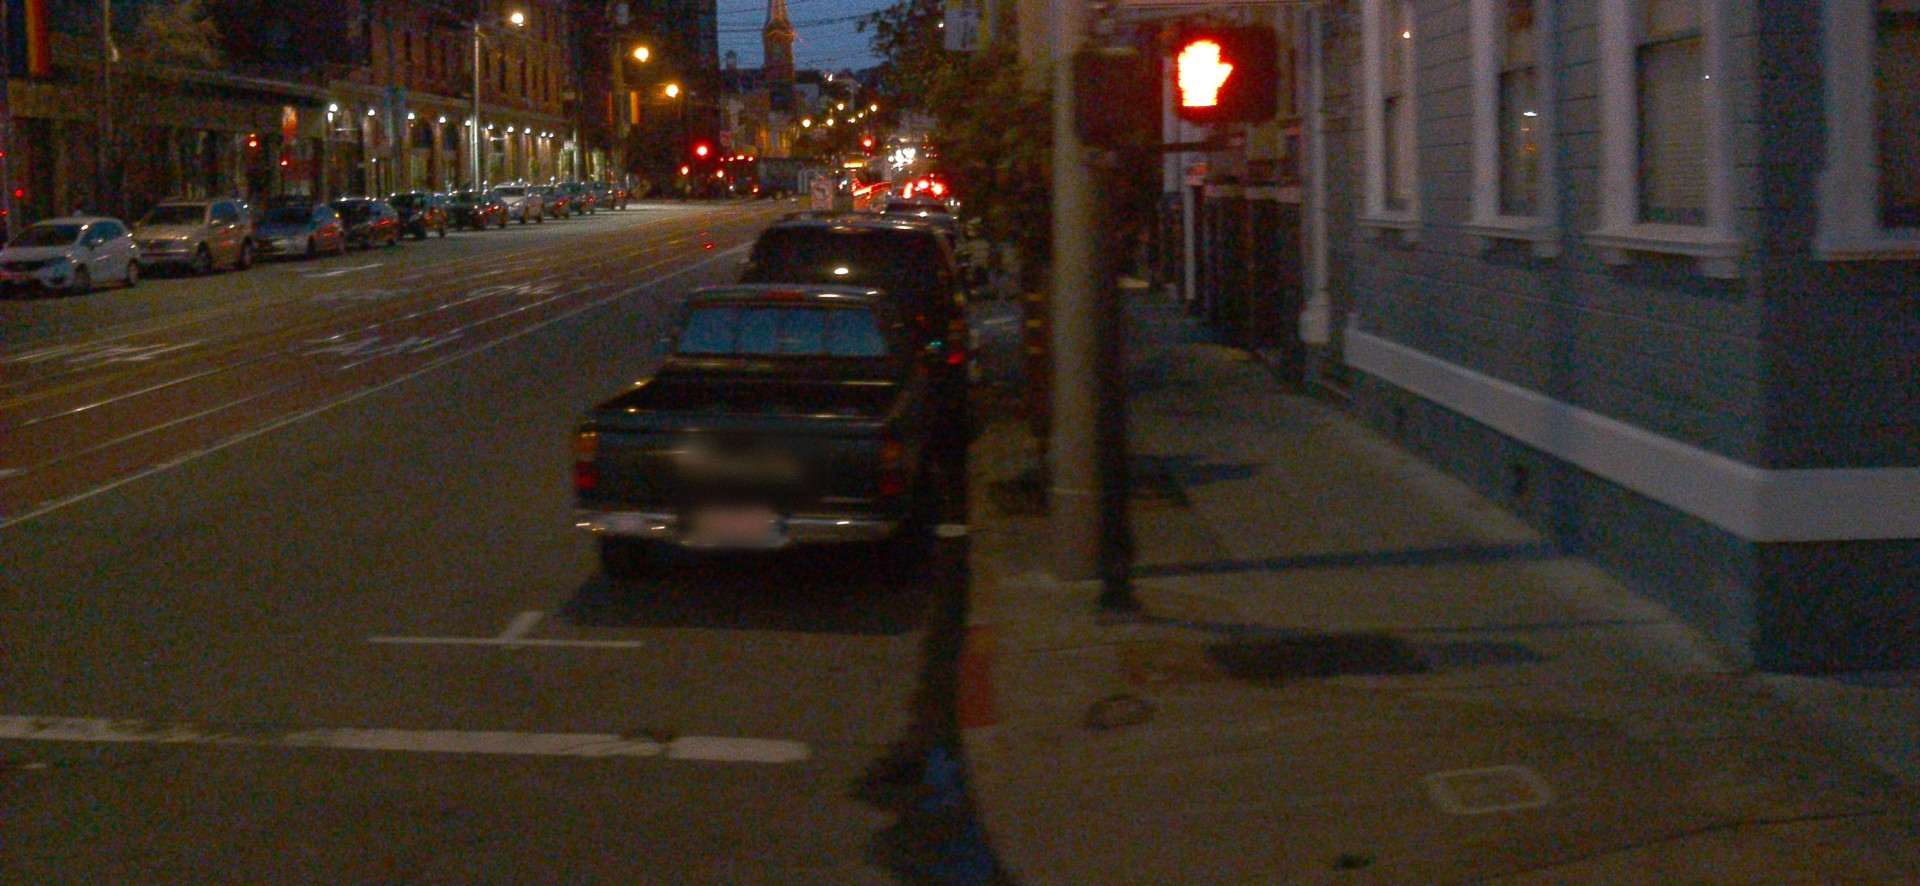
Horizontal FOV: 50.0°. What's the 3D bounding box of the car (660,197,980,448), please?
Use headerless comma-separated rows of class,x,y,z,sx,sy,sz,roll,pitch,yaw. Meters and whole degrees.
car,-1.064,-1.207,18.376,2.422,1.901,5.602,0,6,0

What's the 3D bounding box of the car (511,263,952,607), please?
car,-1.129,-0.269,12.678,2.038,1.582,5.239,0,6,1
